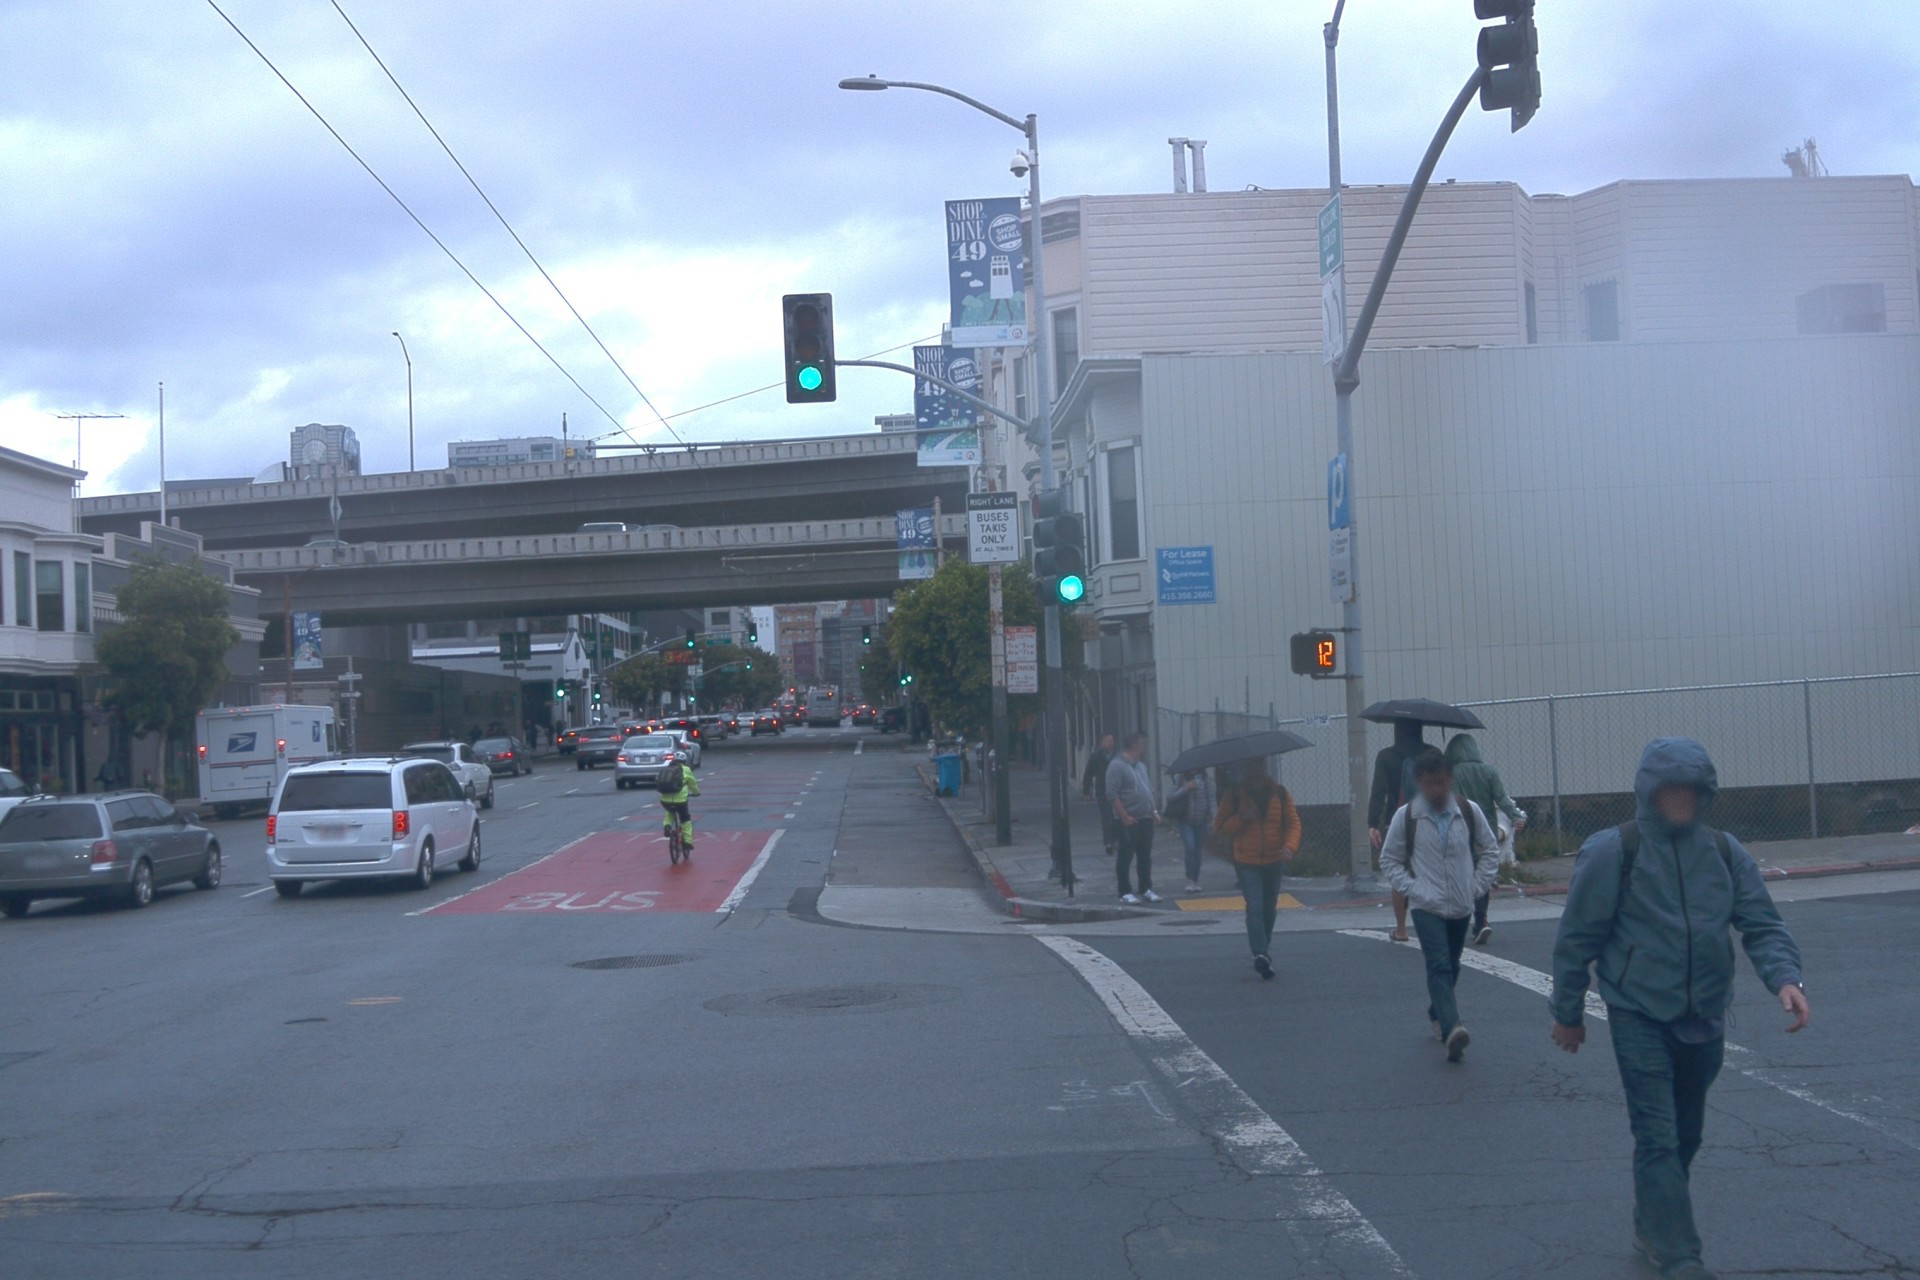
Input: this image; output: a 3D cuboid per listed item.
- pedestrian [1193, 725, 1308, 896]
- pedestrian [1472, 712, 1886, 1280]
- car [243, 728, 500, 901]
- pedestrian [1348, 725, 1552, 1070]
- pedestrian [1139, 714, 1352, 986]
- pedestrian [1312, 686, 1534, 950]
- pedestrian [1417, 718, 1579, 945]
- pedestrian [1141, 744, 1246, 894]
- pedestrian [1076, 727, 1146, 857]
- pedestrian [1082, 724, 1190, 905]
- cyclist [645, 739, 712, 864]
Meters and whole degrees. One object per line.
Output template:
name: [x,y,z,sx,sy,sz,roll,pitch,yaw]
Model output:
pedestrian: [3.160,1.840,22.661,1.011,1.790,1.088,0,-1,-5]
pedestrian: [2.242,1.163,6.618,0.870,1.843,1.133,0,-1,-3]
car: [-7.813,2.258,28.099,2.198,1.970,5.115,0,-1,-2]
pedestrian: [2.572,1.320,10.997,0.815,1.708,1.098,0,-1,0]
pedestrian: [1.975,1.432,14.576,1.298,1.790,1.323,0,-1,-1]
pedestrian: [3.655,1.373,16.551,1.409,1.988,1.526,0,-1,-1]
pedestrian: [4.210,1.477,16.311,0.989,1.692,1.085,0,-1,0]
pedestrian: [2.541,1.933,22.661,1.000,1.560,1.000,0,-1,-2]
pedestrian: [2.021,2.021,27.832,0.810,1.680,1.024,0,-1,-3]
pedestrian: [1.856,1.817,21.904,0.843,1.837,0.755,0,-1,-31]
cyclist: [-4.195,2.385,30.983,0.752,1.760,1.575,0,-1,2]
